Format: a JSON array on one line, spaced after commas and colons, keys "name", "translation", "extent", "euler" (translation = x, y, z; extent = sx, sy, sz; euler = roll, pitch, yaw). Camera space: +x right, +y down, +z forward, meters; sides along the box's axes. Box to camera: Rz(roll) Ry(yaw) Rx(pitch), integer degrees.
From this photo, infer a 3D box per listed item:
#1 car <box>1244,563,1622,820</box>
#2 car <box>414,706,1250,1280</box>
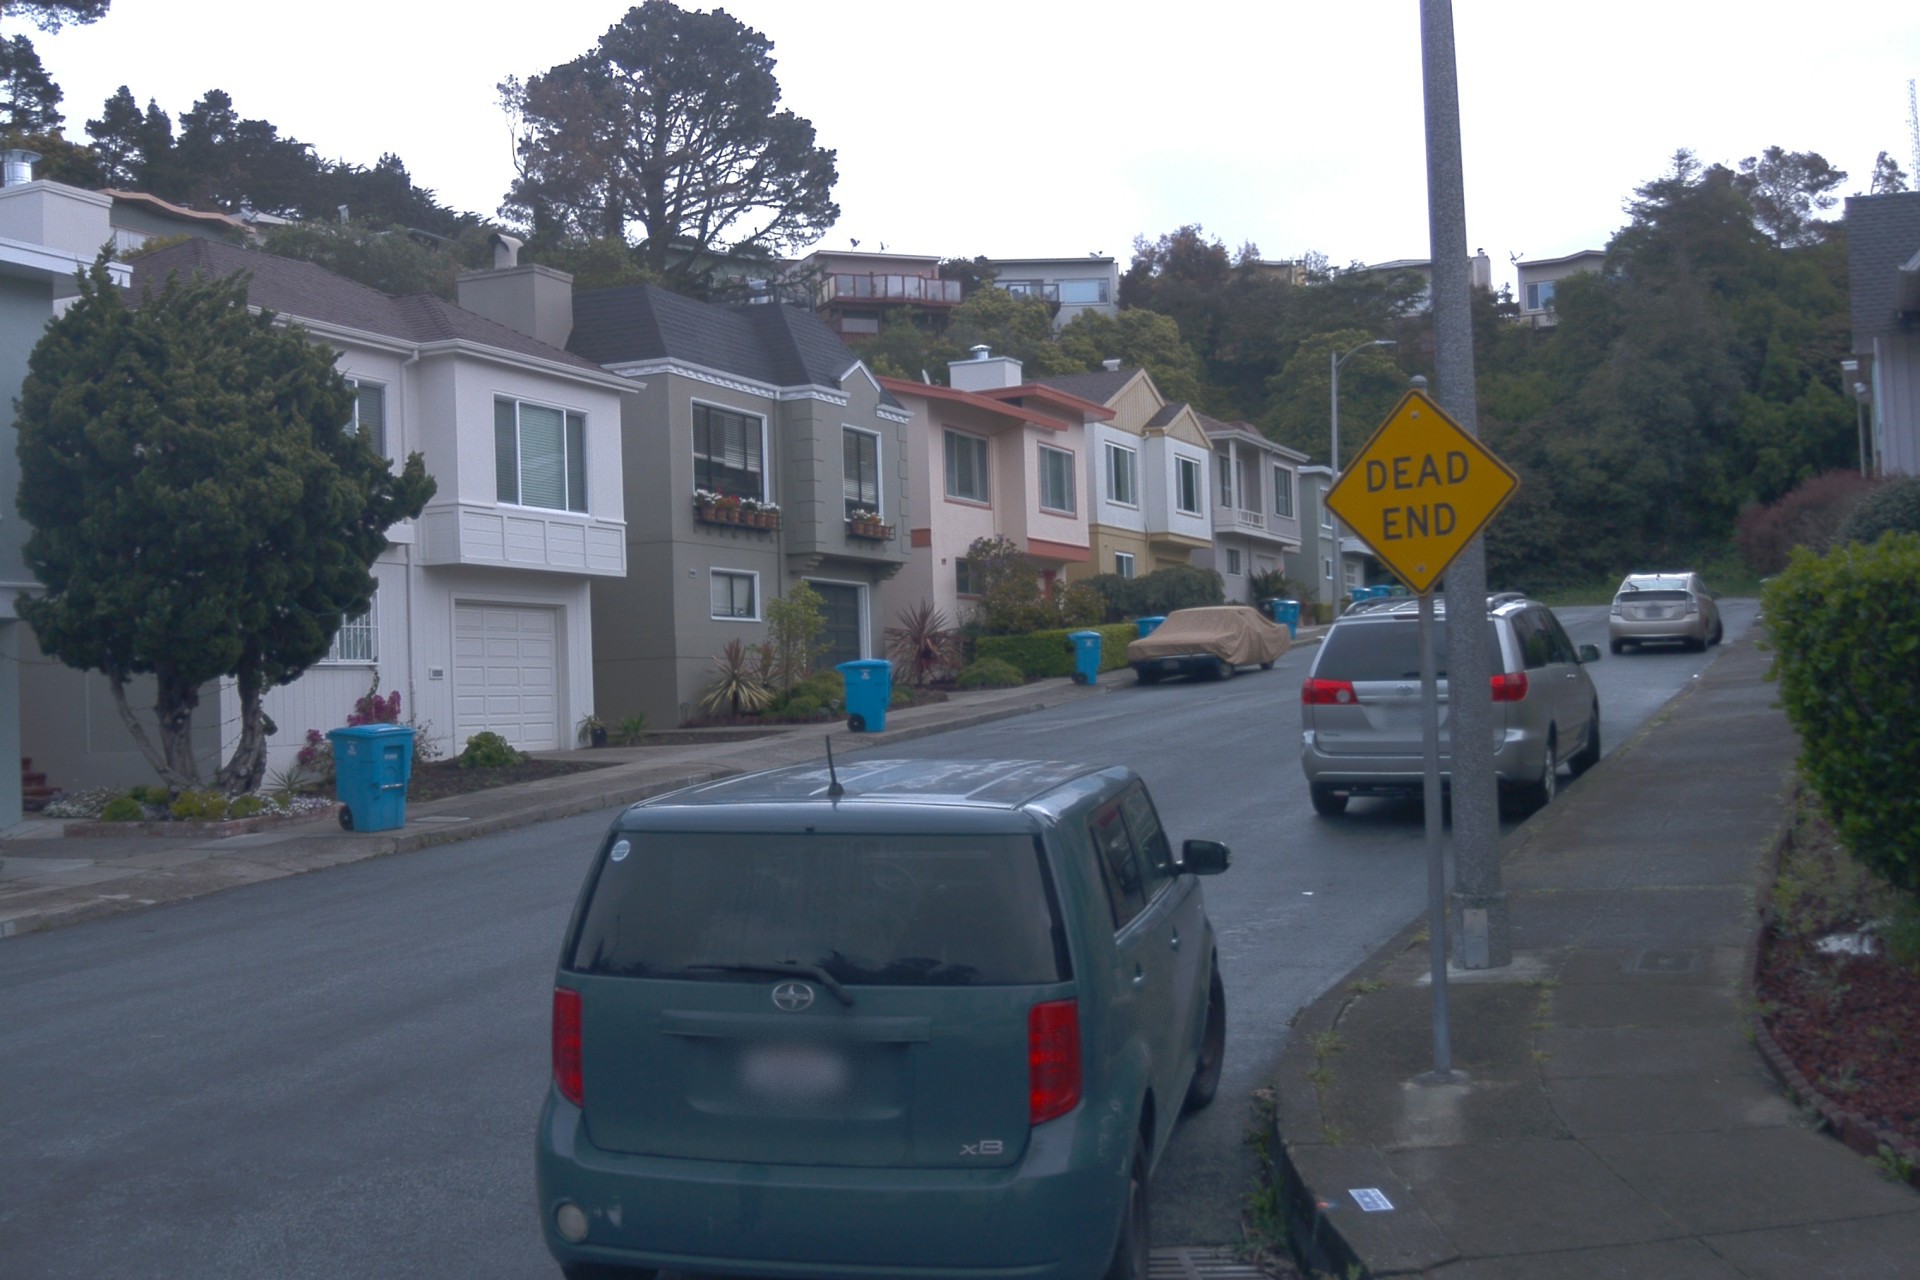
[{"name": "car", "translation": [4.388, 0.404, 18.718], "extent": [2.414, 1.960, 4.911], "euler": [1, 0, 23]}, {"name": "car", "translation": [-0.091, 1.192, 7.644], "extent": [2.031, 1.770, 4.269], "euler": [1, 0, 11]}]
